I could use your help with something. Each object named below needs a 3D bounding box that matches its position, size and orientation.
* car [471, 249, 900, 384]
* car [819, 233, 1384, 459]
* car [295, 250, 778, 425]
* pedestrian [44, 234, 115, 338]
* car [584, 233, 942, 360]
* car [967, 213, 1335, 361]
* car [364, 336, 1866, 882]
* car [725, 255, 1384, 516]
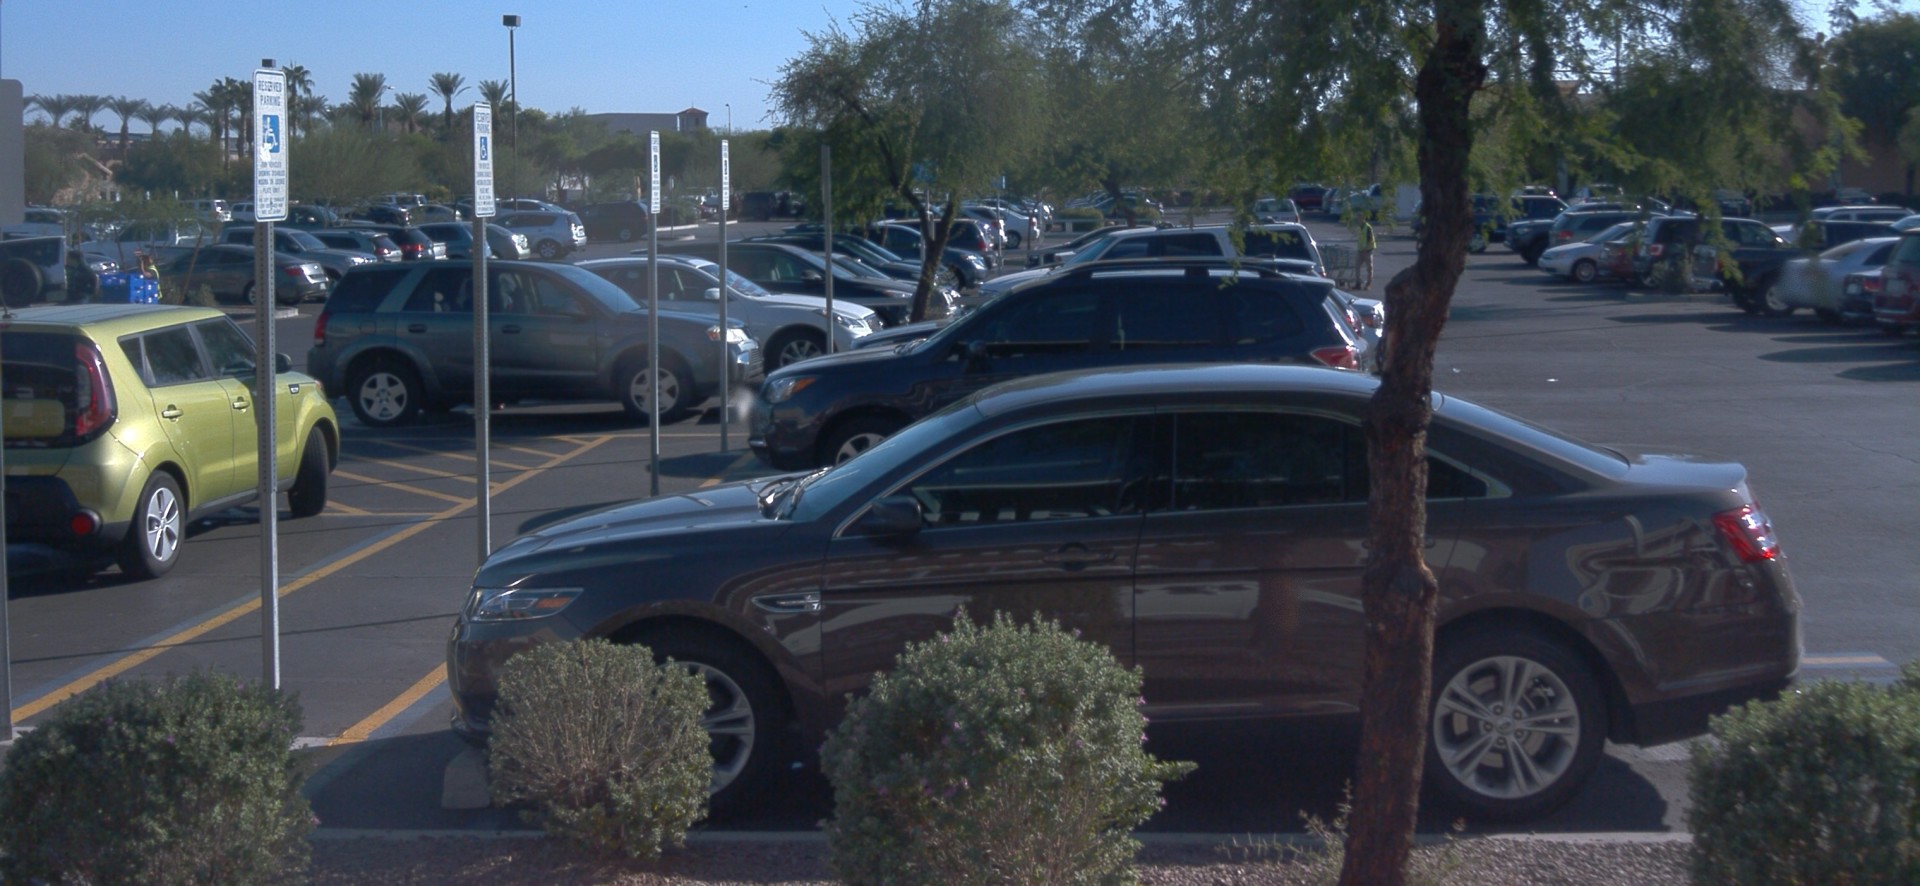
[{"bbox_3d":[-3.226,-1.559,24.977,4.727,1.515,2.090,0,4,6],"label":"car"},{"bbox_3d":[1.249,-0.916,18.540,4.766,1.885,2.000,0,4,3],"label":"car"},{"bbox_3d":[-4.315,-1.147,21.694,4.532,1.695,2.119,0,4,2],"label":"car"},{"bbox_3d":[-14.989,-2.681,35.297,0.792,1.748,0.757,0,2,21],"label":"pedestrian"},{"bbox_3d":[-2.813,-2.176,30.448,4.858,1.765,2.271,0,4,5],"label":"car"},{"bbox_3d":[2.755,-2.291,30.053,5.116,2.055,2.168,0,4,5],"label":"car"},{"bbox_3d":[0.560,0.489,8.102,5.055,1.675,2.207,0,4,4],"label":"car"},{"bbox_3d":[0.718,-0.486,15.304,4.542,1.745,1.945,0,4,4],"label":"car"}]
